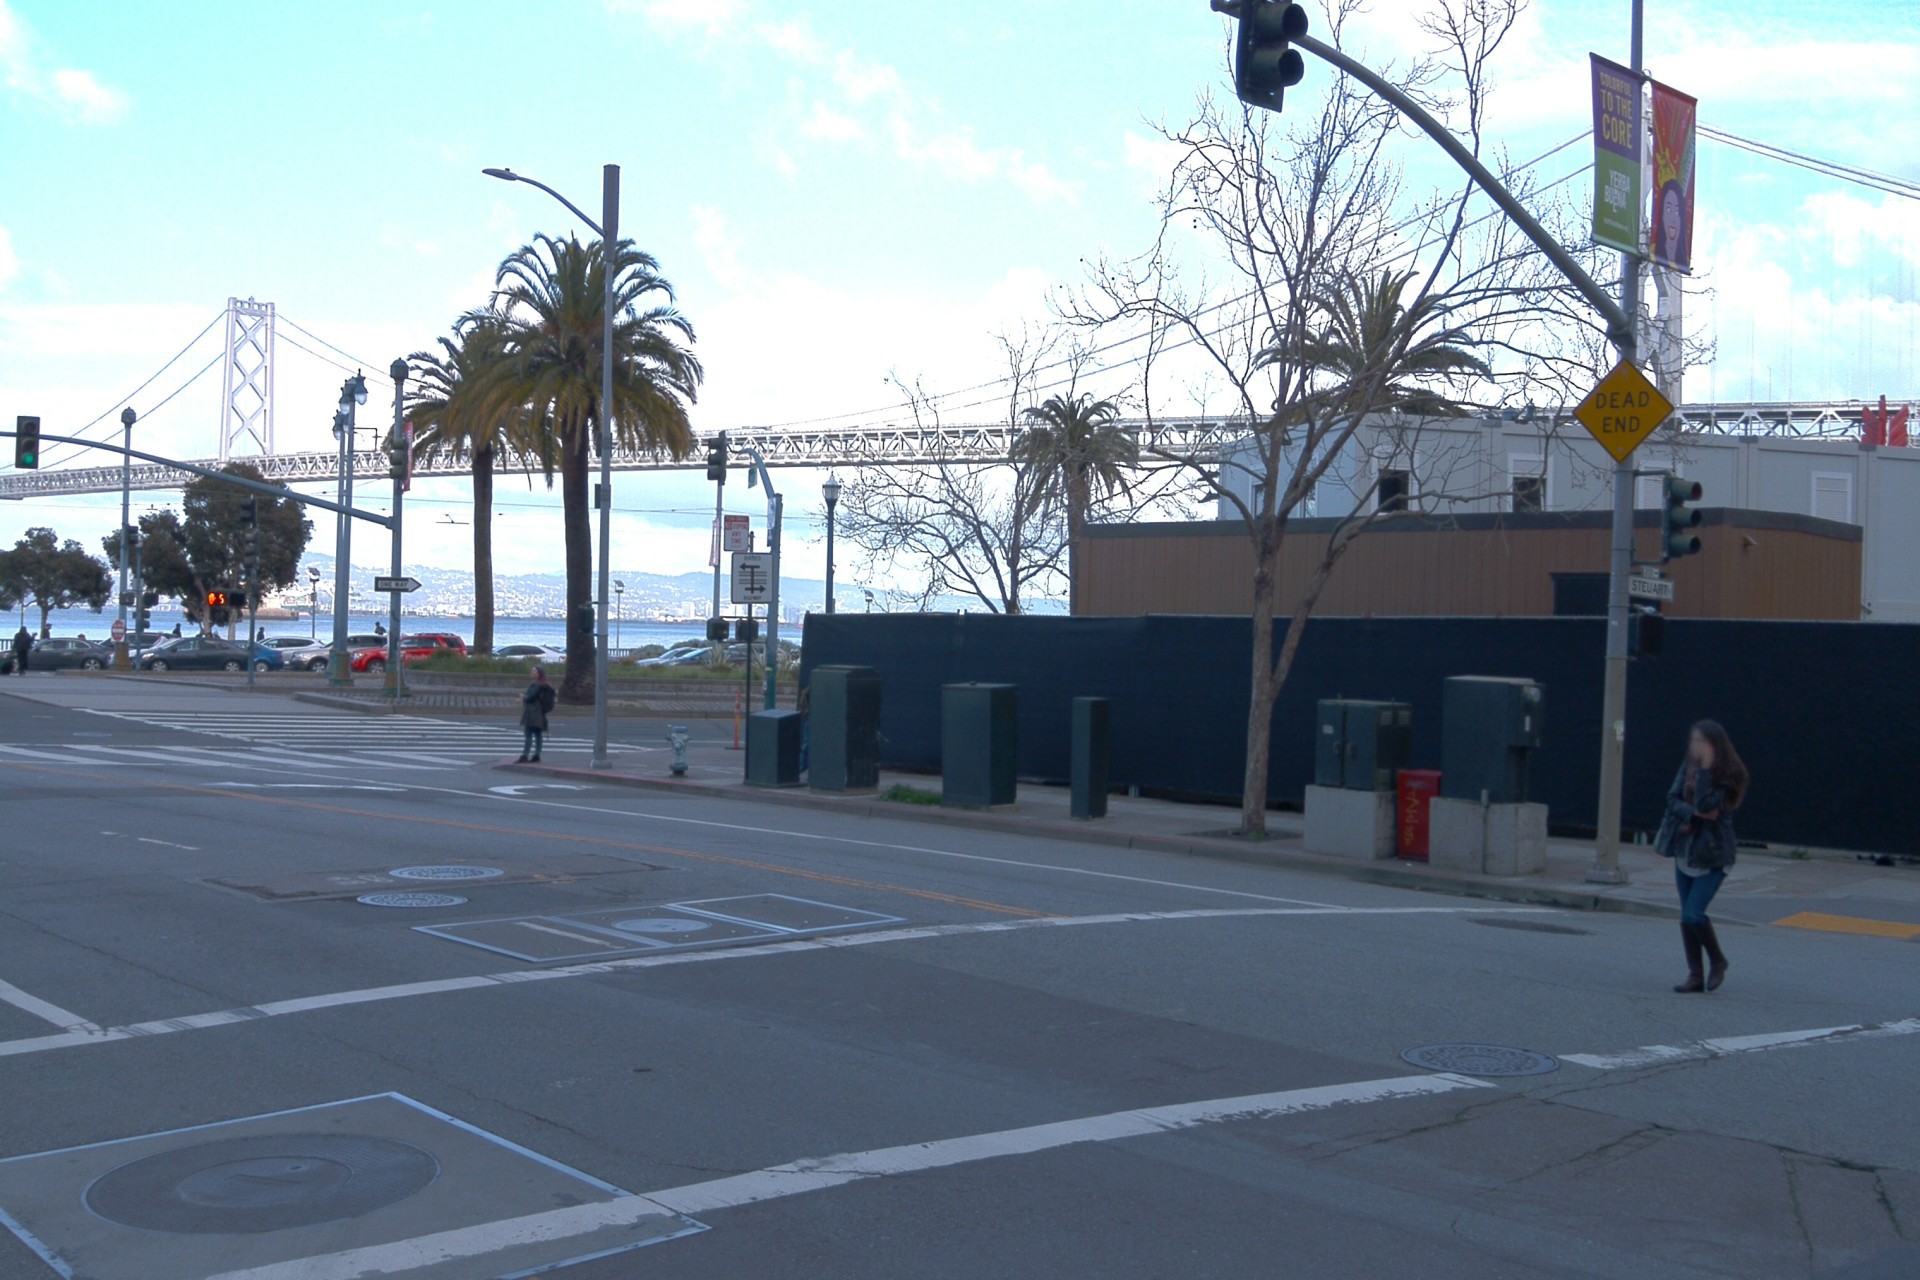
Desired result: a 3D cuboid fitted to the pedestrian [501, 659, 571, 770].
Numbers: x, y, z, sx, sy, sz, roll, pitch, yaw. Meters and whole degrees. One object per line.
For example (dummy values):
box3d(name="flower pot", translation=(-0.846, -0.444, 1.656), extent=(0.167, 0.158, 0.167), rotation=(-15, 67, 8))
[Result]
box3d(name="pedestrian", translation=(-7.041, 1.222, 34.123), extent=(0.841, 1.790, 0.831), rotation=(-1, 1, -40))

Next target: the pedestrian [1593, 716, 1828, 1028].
box3d(name="pedestrian", translation=(4.539, 1.354, 12.442), extent=(1.092, 1.720, 0.848), rotation=(-1, 1, -35))
